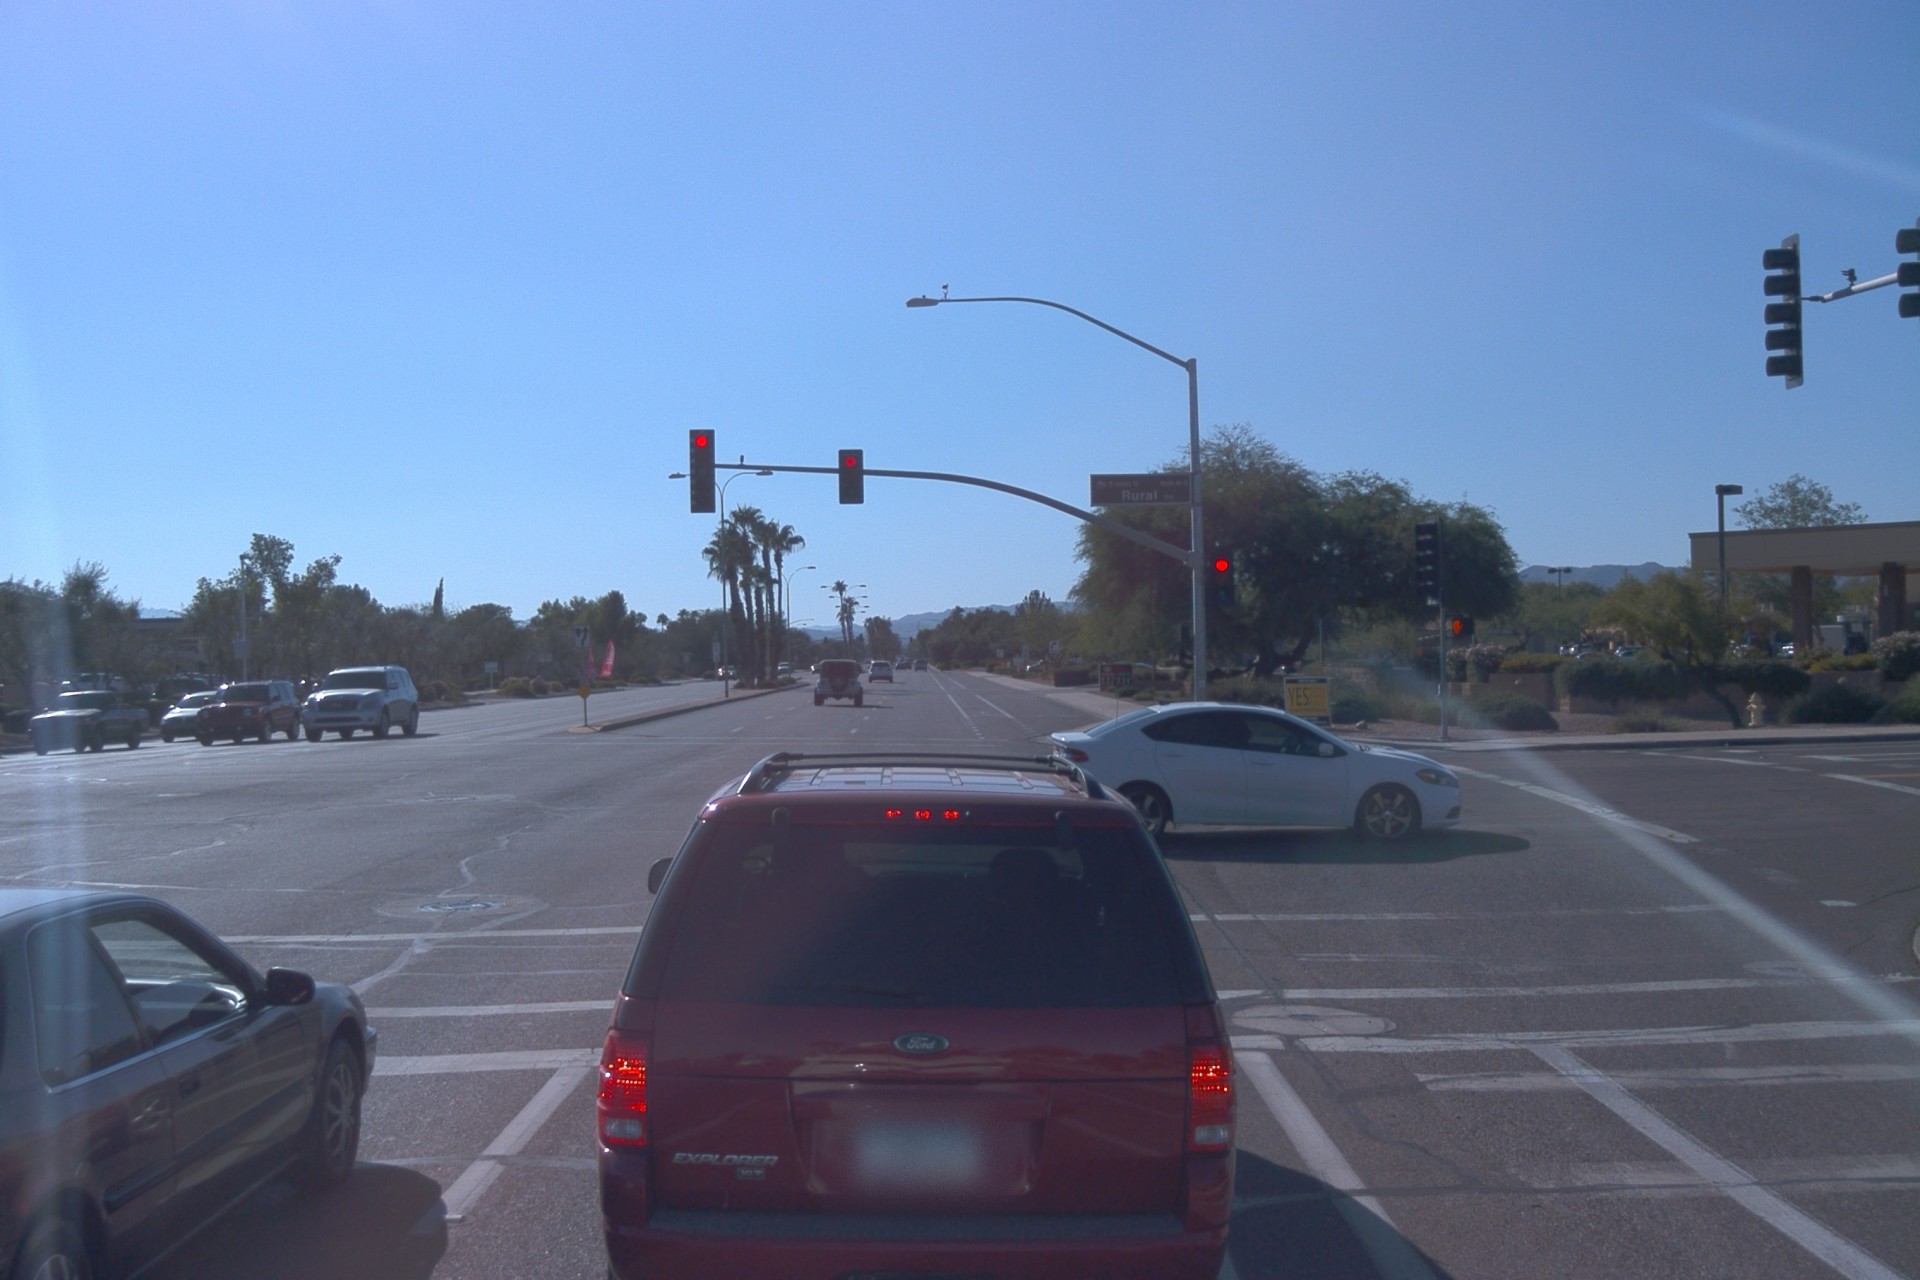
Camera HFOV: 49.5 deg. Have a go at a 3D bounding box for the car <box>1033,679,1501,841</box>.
[{"bbox_3d":[3.217,1.265,22.597,4.747,1.620,2.099,1,-1,0],"label":"car"}]

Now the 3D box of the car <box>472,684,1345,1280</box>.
[{"bbox_3d":[-0.180,1.201,7.459,2.169,2.040,4.462,1,-1,-1],"label":"car"}]
